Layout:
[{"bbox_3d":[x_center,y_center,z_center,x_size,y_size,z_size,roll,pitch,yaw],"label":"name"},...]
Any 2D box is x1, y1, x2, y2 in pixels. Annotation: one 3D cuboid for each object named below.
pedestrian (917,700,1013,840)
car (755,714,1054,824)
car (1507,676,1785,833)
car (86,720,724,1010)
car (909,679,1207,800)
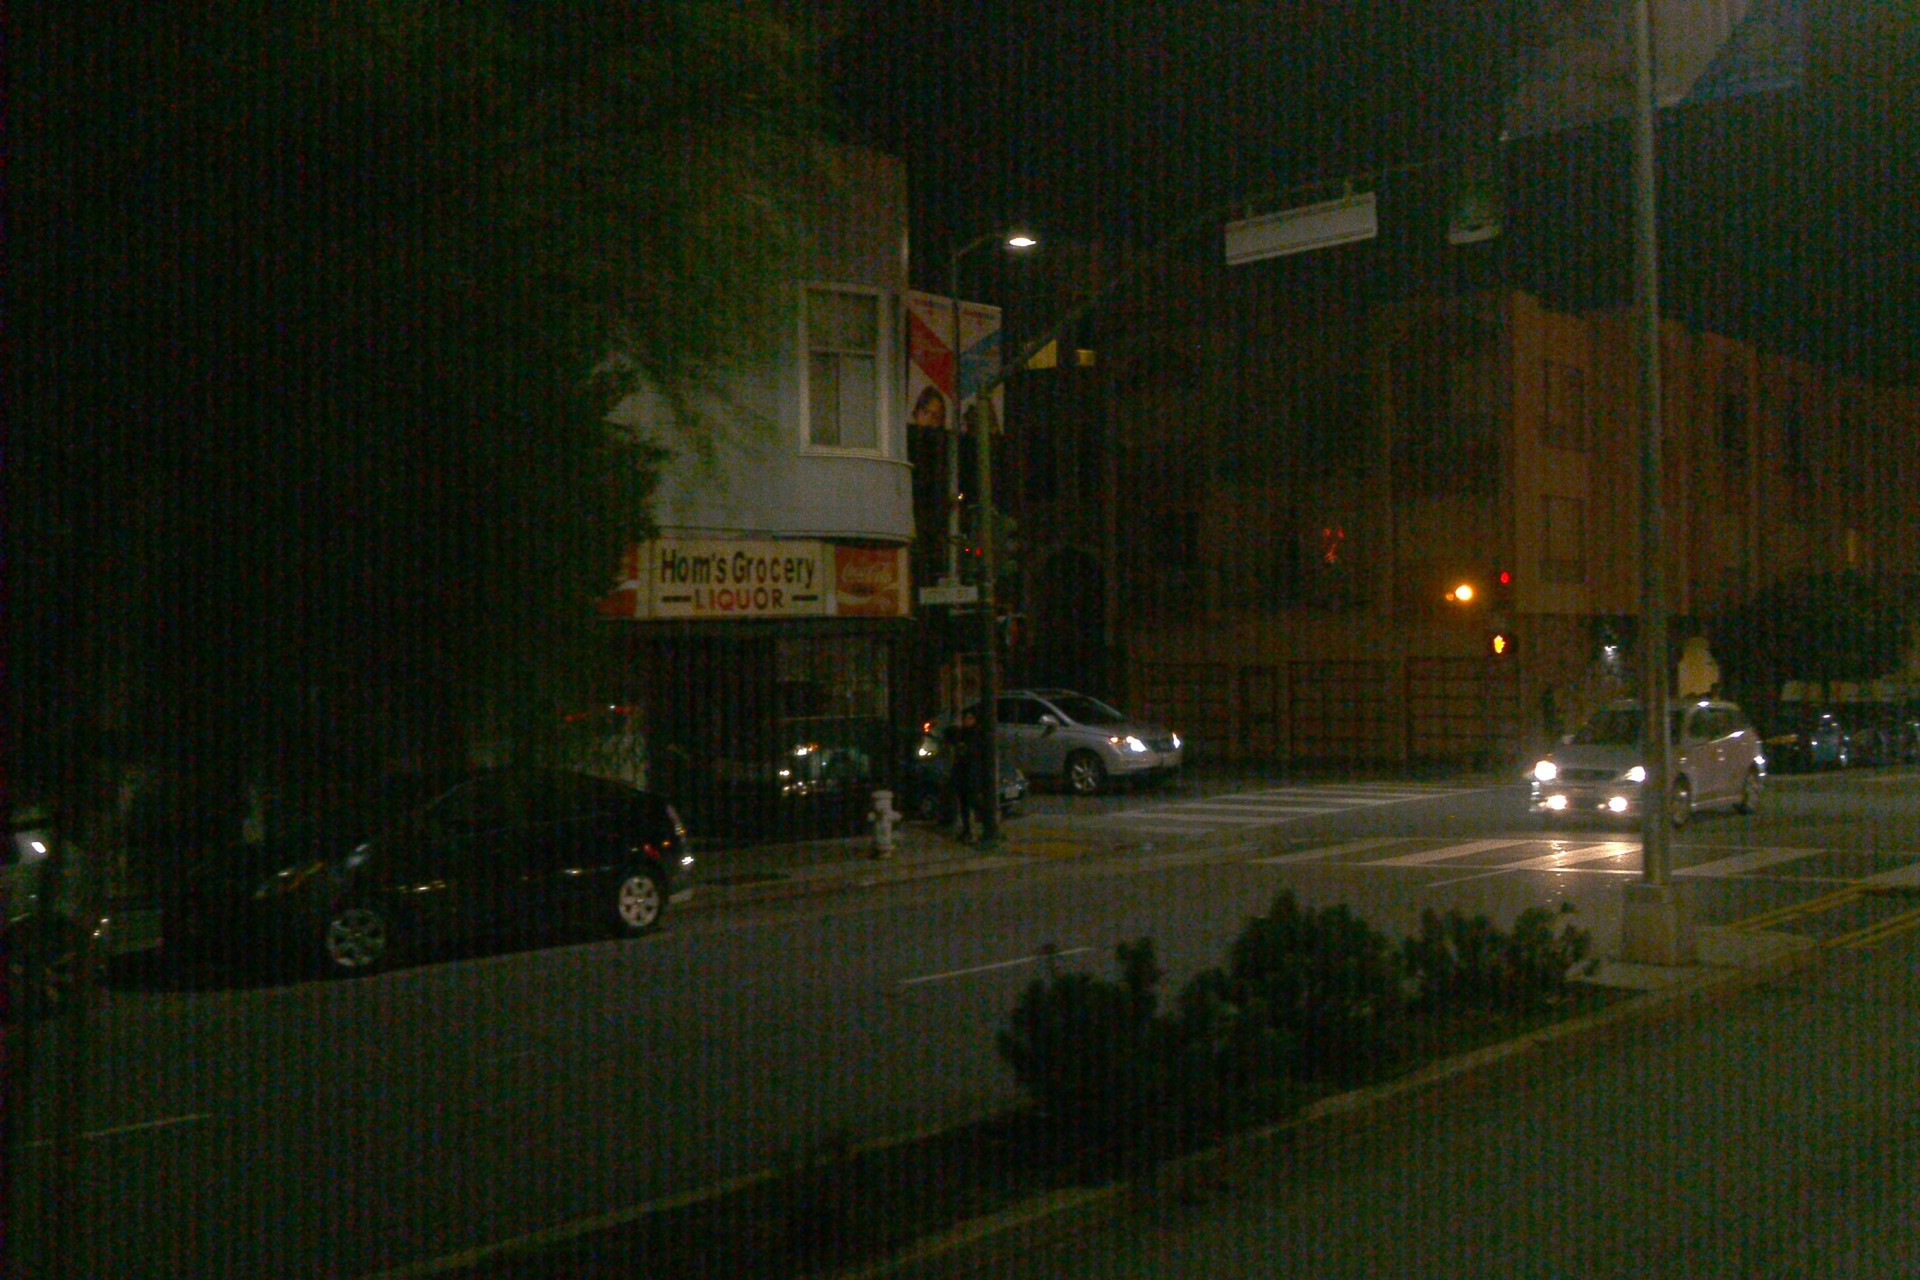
[{"bbox_3d":[0.064,1.628,26.158,0.868,1.690,0.829,1,0,38],"label":"pedestrian"},{"bbox_3d":[-0.884,1.904,31.362,4.279,1.350,1.946,1,0,39],"label":"car"},{"bbox_3d":[8.955,1.397,26.756,1.926,1.790,4.344,1,0,40],"label":"car"},{"bbox_3d":[-4.210,1.616,16.377,1.916,1.780,4.622,1,0,38],"label":"car"},{"bbox_3d":[1.606,1.610,34.810,4.615,1.760,2.139,1,0,39],"label":"car"}]
